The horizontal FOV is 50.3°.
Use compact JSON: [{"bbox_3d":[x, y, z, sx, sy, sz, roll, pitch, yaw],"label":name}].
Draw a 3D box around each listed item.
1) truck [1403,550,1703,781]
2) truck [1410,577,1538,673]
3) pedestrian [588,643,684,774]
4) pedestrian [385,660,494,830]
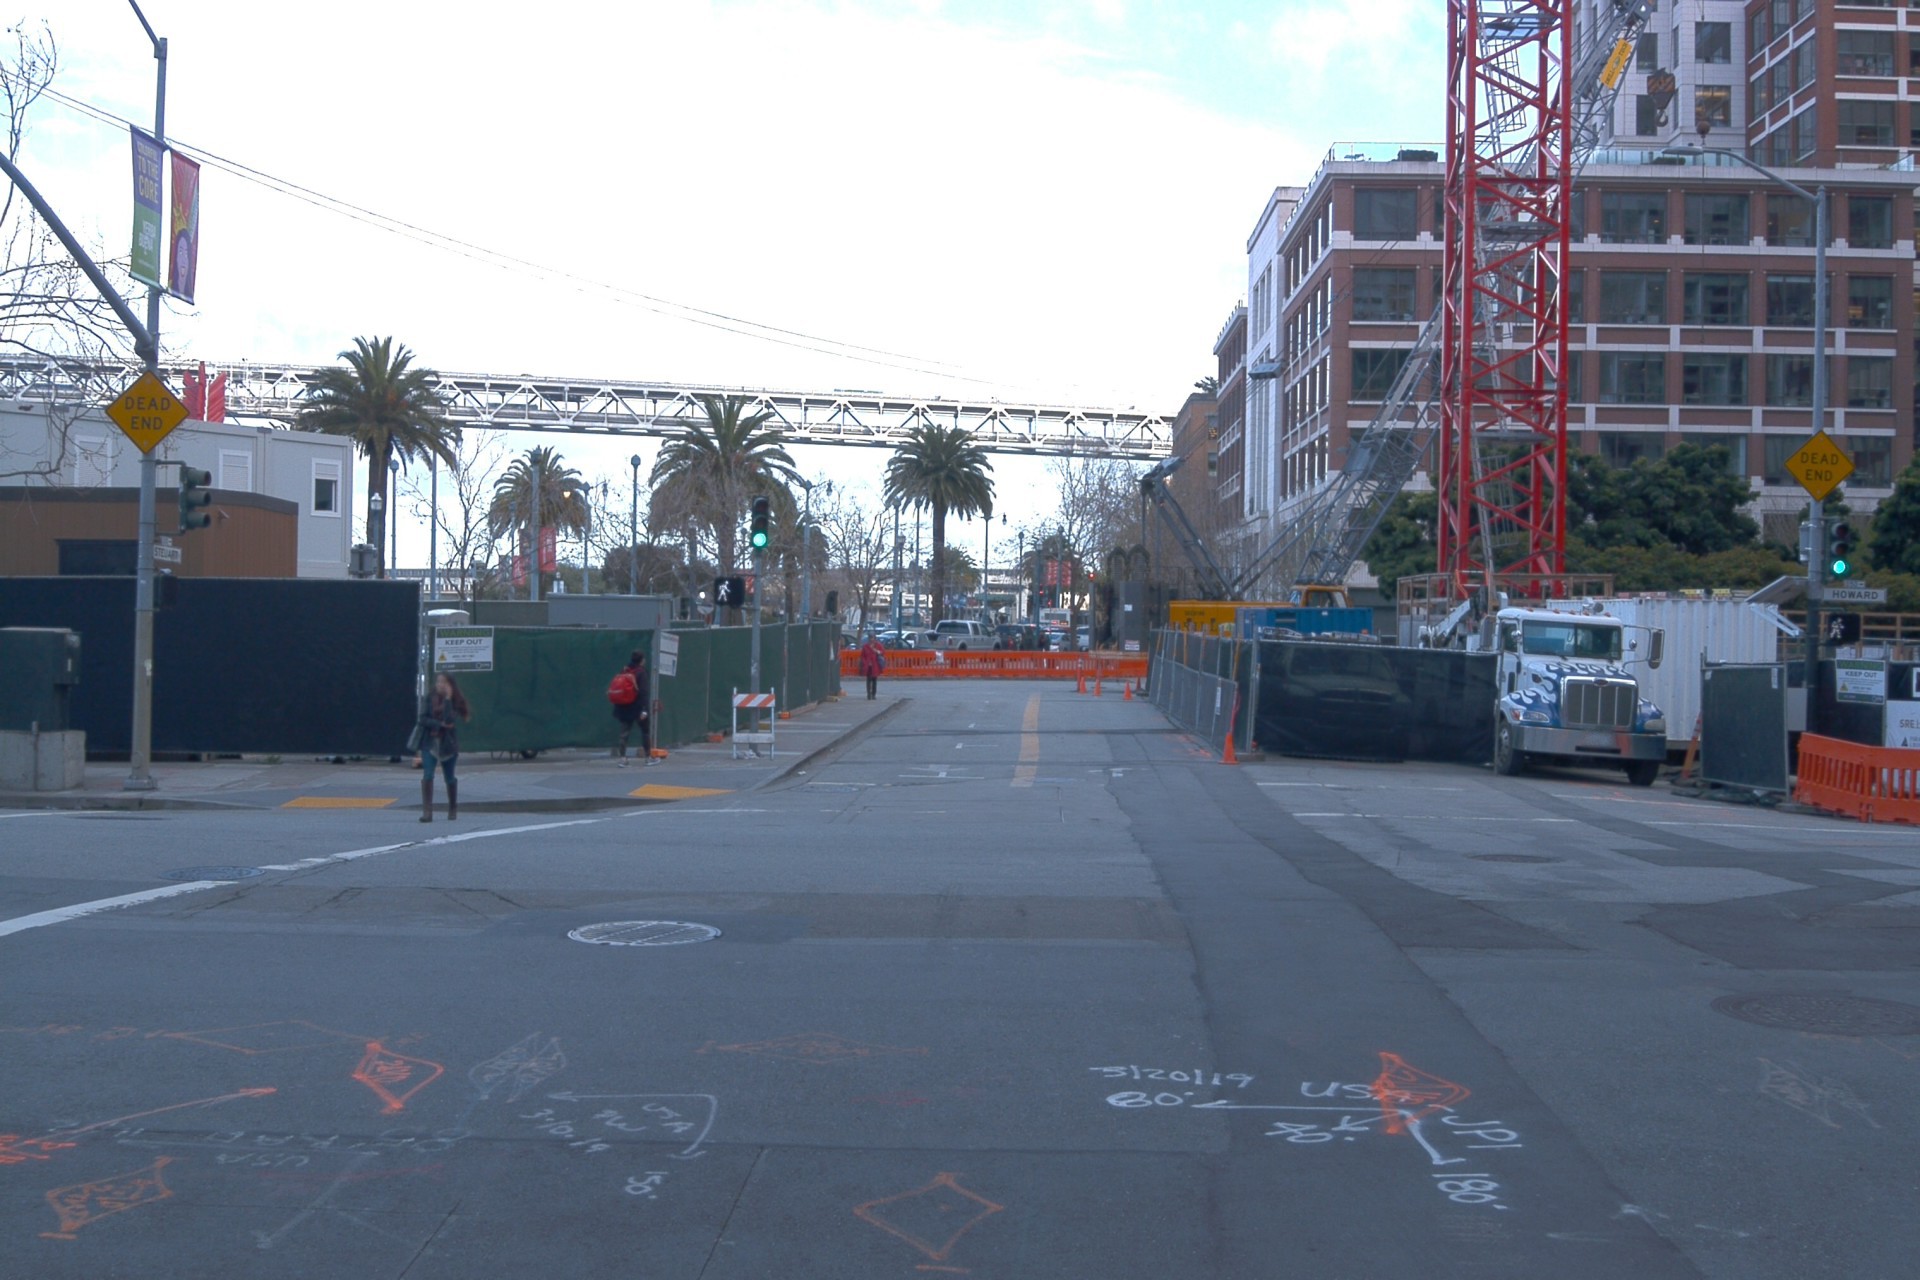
[{"bbox_3d":[9.496,0.361,33.655,2.982,3.380,7.060,1,0,1],"label":"truck"},{"bbox_3d":[8.754,-0.252,35.089,1.127,1.550,4.268,1,0,0],"label":"truck"},{"bbox_3d":[-4.502,0.928,28.440,0.772,1.760,1.195,1,0,25],"label":"pedestrian"},{"bbox_3d":[-5.455,1.080,21.471,0.847,1.720,1.093,1,0,1],"label":"pedestrian"}]
